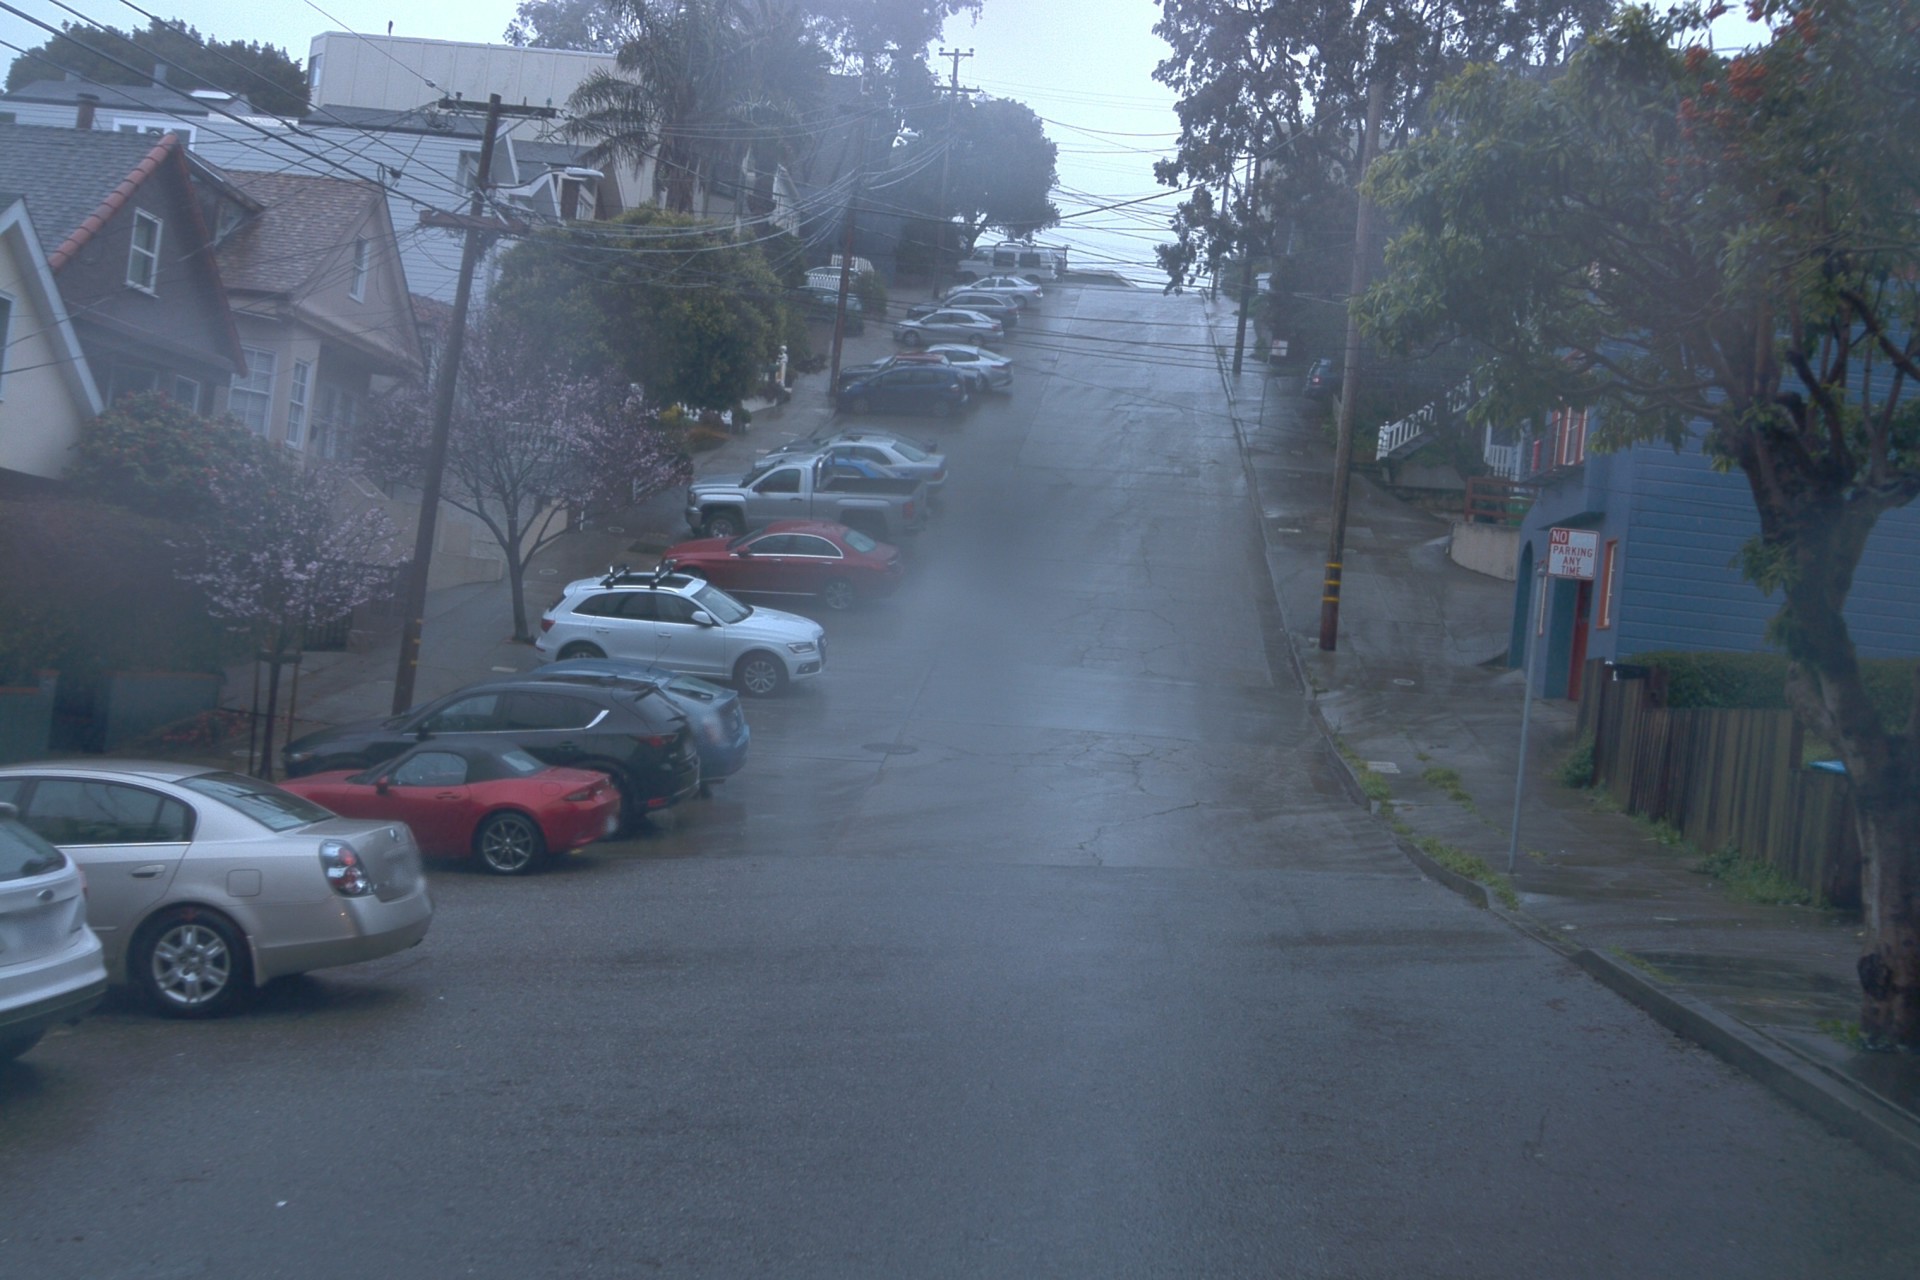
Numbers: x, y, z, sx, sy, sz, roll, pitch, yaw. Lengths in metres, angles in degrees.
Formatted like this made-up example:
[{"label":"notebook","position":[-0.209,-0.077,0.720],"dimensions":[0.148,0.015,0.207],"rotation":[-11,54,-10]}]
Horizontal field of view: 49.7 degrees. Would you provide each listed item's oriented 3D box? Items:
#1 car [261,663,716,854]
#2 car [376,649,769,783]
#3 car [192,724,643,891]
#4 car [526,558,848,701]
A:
[{"label":"car","position":[-5.068,1.236,22.688],"dimensions":[4.420,1.960,2.166],"rotation":[0,0,5]},{"label":"car","position":[-4.682,0.894,25.376],"dimensions":[4.346,1.550,1.983],"rotation":[0,0,7]},{"label":"car","position":[-5.180,1.586,20.119],"dimensions":[3.824,1.450,1.932],"rotation":[0,0,4]},{"label":"car","position":[-4.264,-0.156,32.874],"dimensions":[4.701,2.170,2.218],"rotation":[0,0,5]}]
